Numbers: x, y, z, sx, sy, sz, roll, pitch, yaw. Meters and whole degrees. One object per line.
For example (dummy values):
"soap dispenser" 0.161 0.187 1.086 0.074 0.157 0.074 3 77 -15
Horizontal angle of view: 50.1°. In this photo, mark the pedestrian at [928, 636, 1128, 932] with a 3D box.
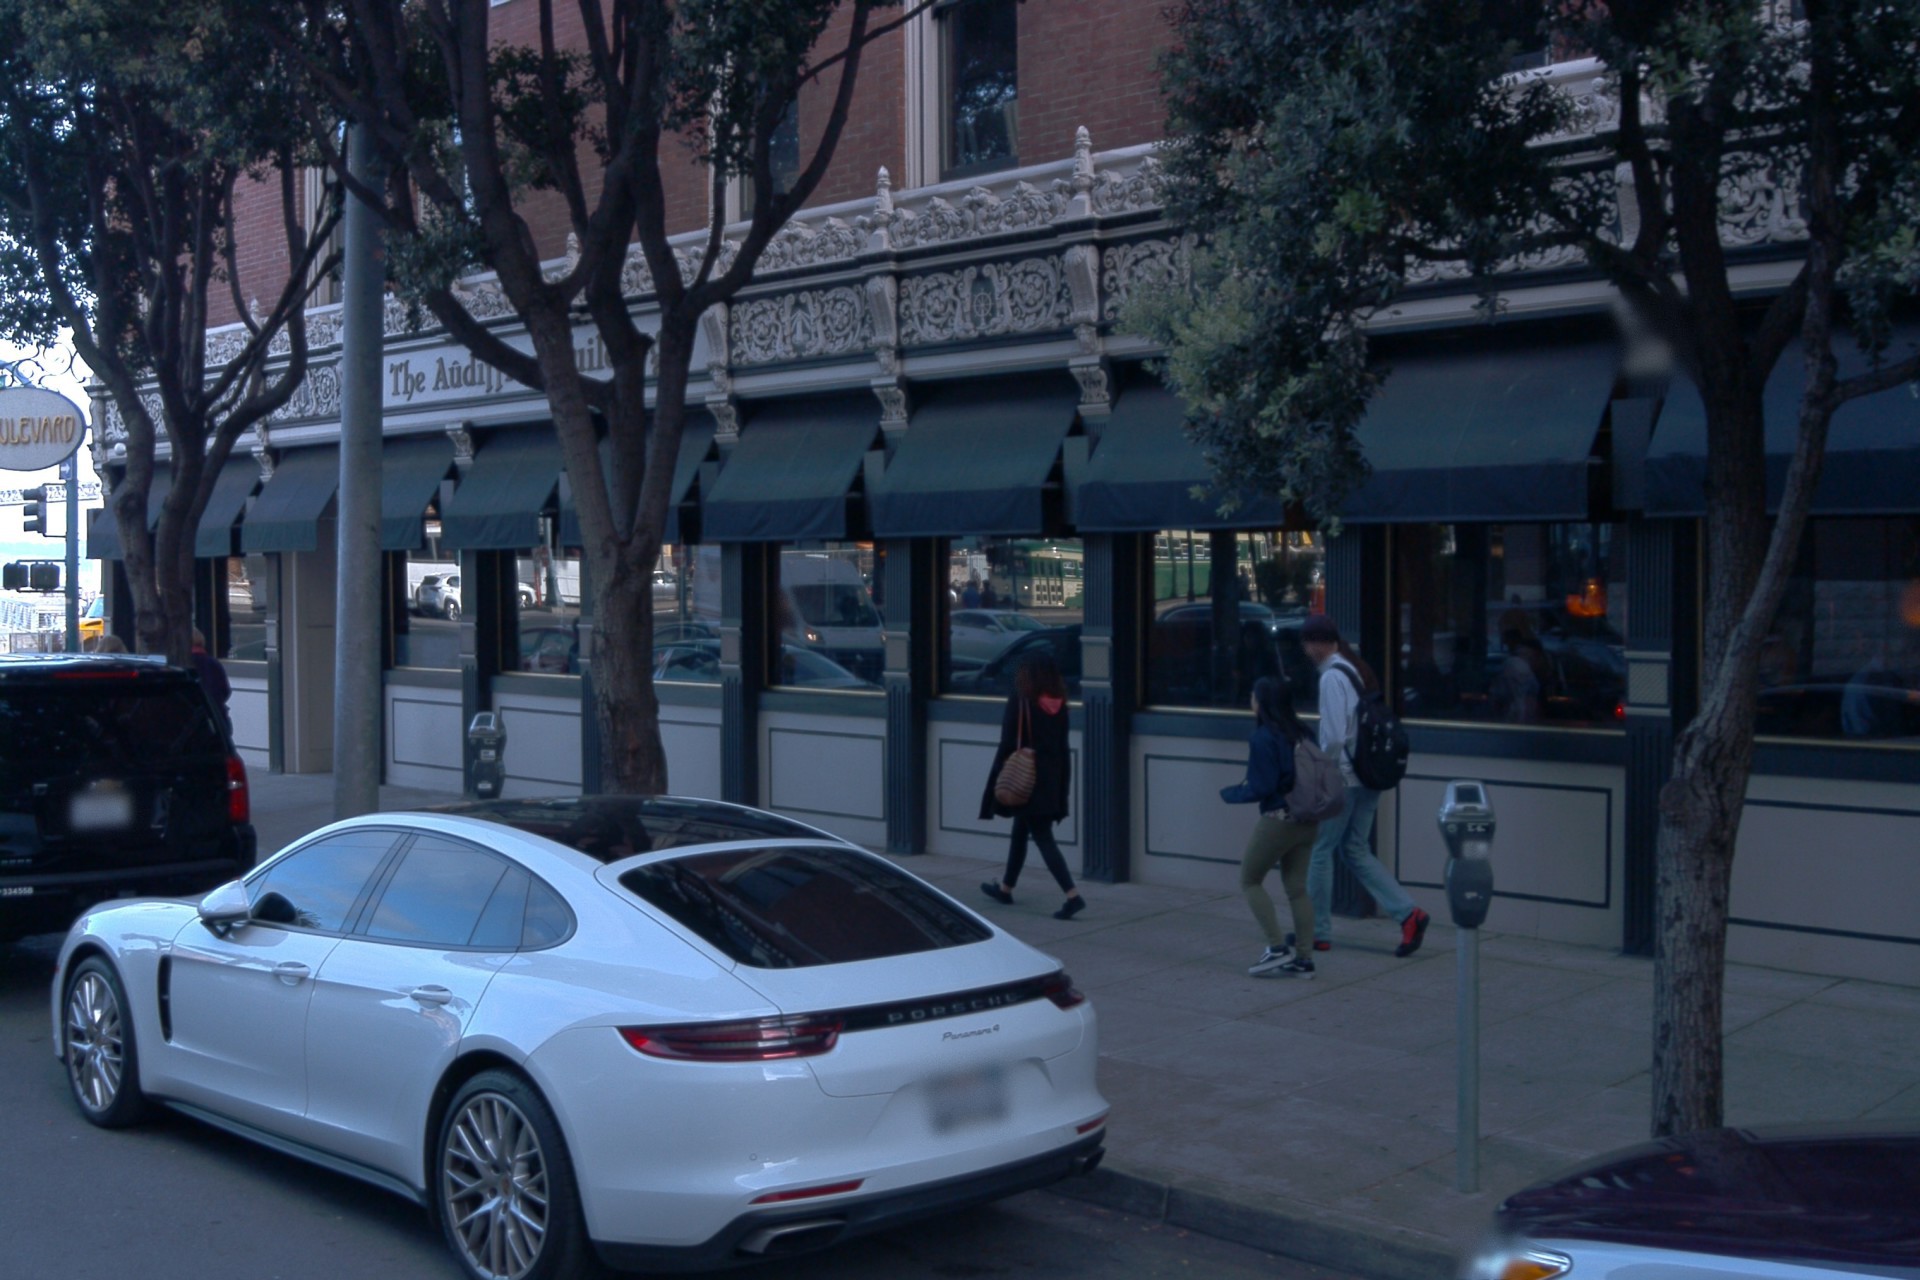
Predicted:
"pedestrian" 0.407 0.826 12.390 0.934 1.690 0.759 0 0 43

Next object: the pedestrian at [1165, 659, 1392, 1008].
"pedestrian" 1.607 0.929 10.388 0.895 1.650 0.692 0 0 43

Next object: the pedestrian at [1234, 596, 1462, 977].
"pedestrian" 2.065 0.732 10.955 0.917 1.920 0.771 0 0 44

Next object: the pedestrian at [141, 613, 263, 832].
"pedestrian" -6.756 0.706 18.317 0.814 1.890 0.726 0 0 43
